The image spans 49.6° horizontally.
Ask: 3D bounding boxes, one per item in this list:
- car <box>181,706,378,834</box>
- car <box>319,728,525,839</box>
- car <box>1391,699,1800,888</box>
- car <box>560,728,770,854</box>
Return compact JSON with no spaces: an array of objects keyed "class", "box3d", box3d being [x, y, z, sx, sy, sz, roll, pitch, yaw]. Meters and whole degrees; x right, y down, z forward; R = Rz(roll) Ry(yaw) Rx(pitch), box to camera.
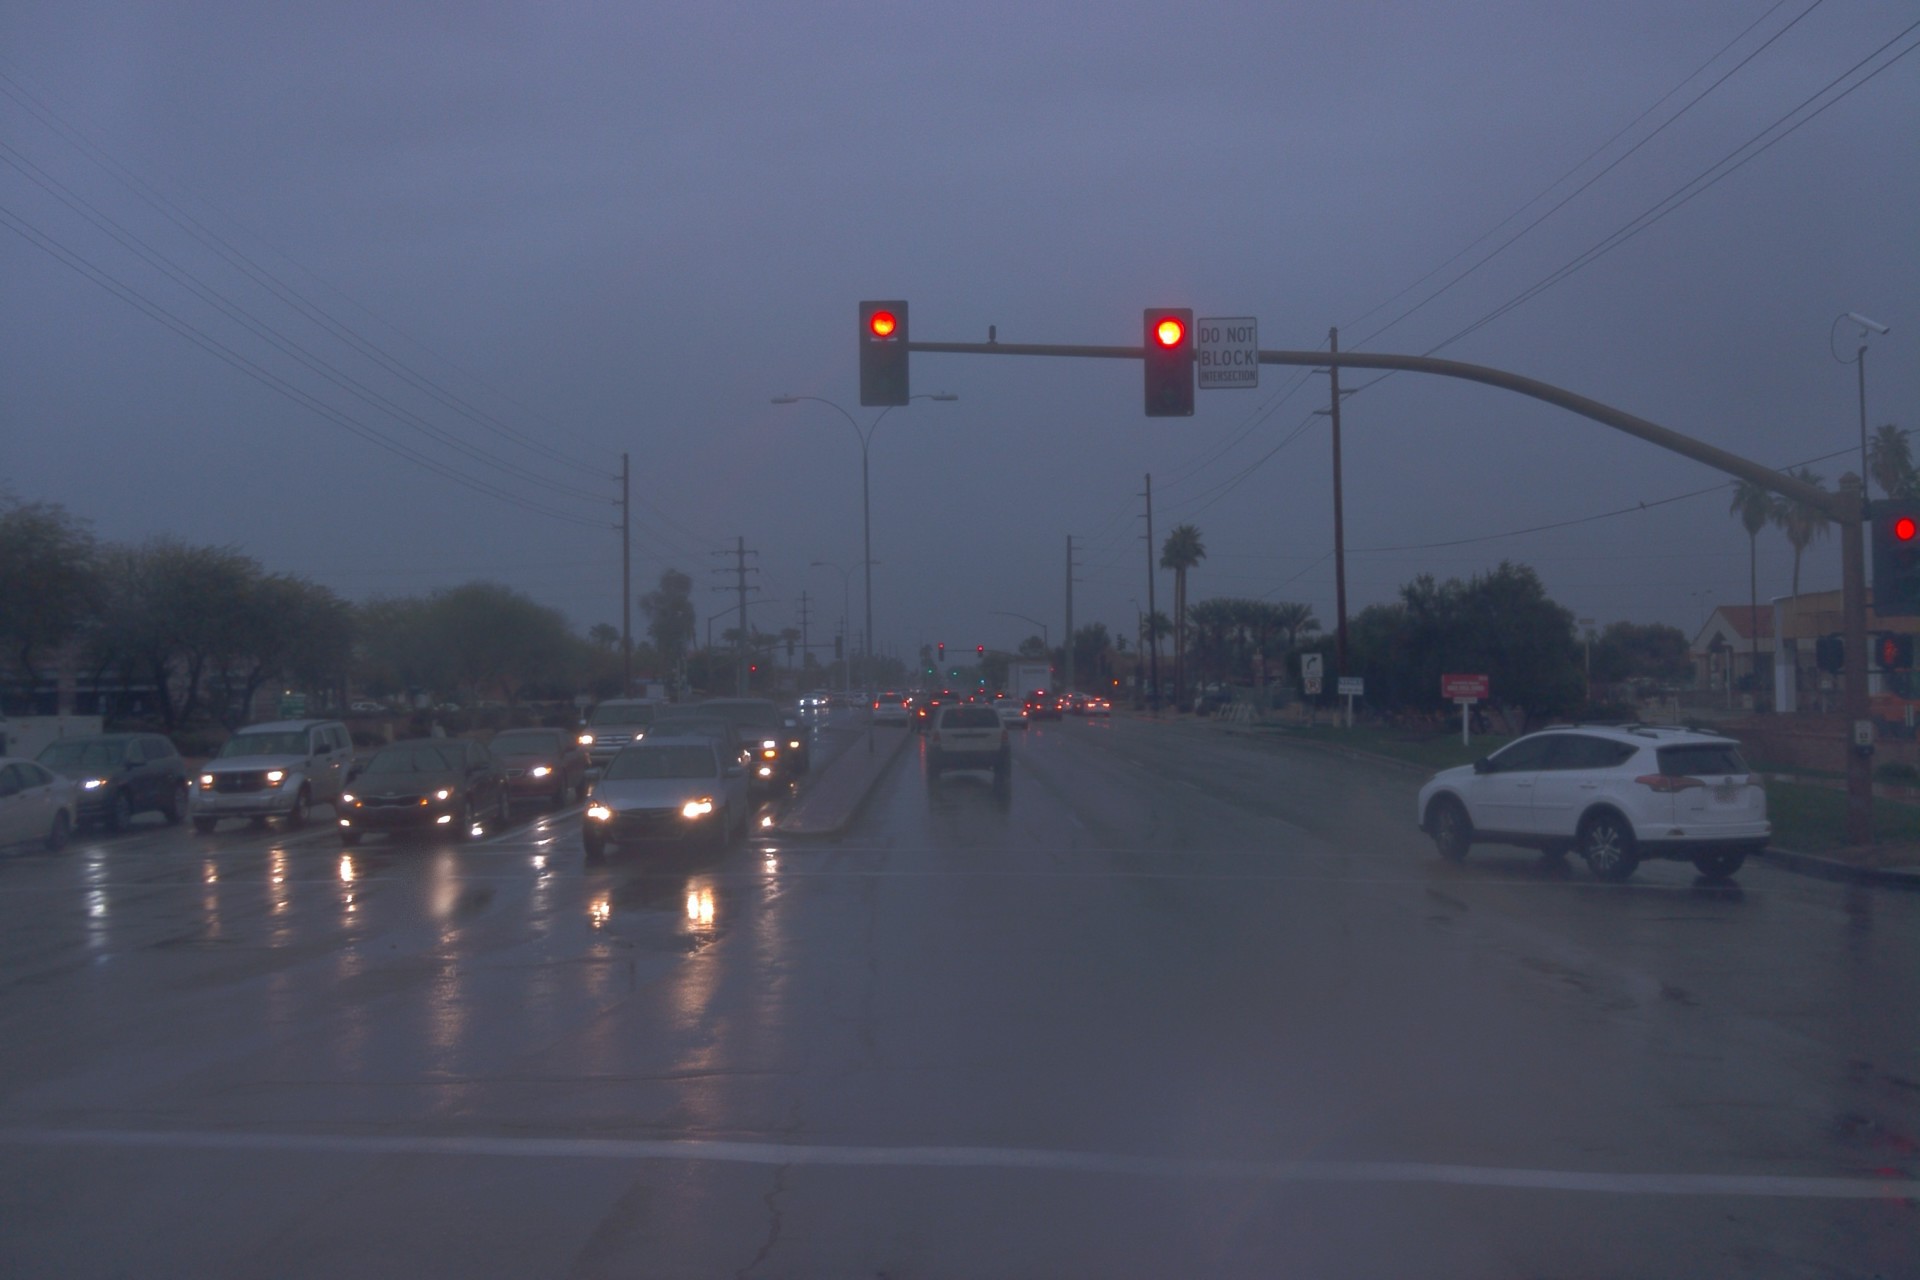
[{"class":"car","box3d":[-11.751,2.192,36.197,2.052,2.020,4.498,0,-1,-1]},{"class":"car","box3d":[-8.040,2.115,31.497,2.042,1.440,4.763,0,-1,-2]},{"class":"car","box3d":[7.270,1.678,24.290,2.019,1.940,4.559,0,-1,-25]},{"class":"car","box3d":[-3.794,1.932,27.539,2.102,1.410,4.605,0,-1,1]}]
